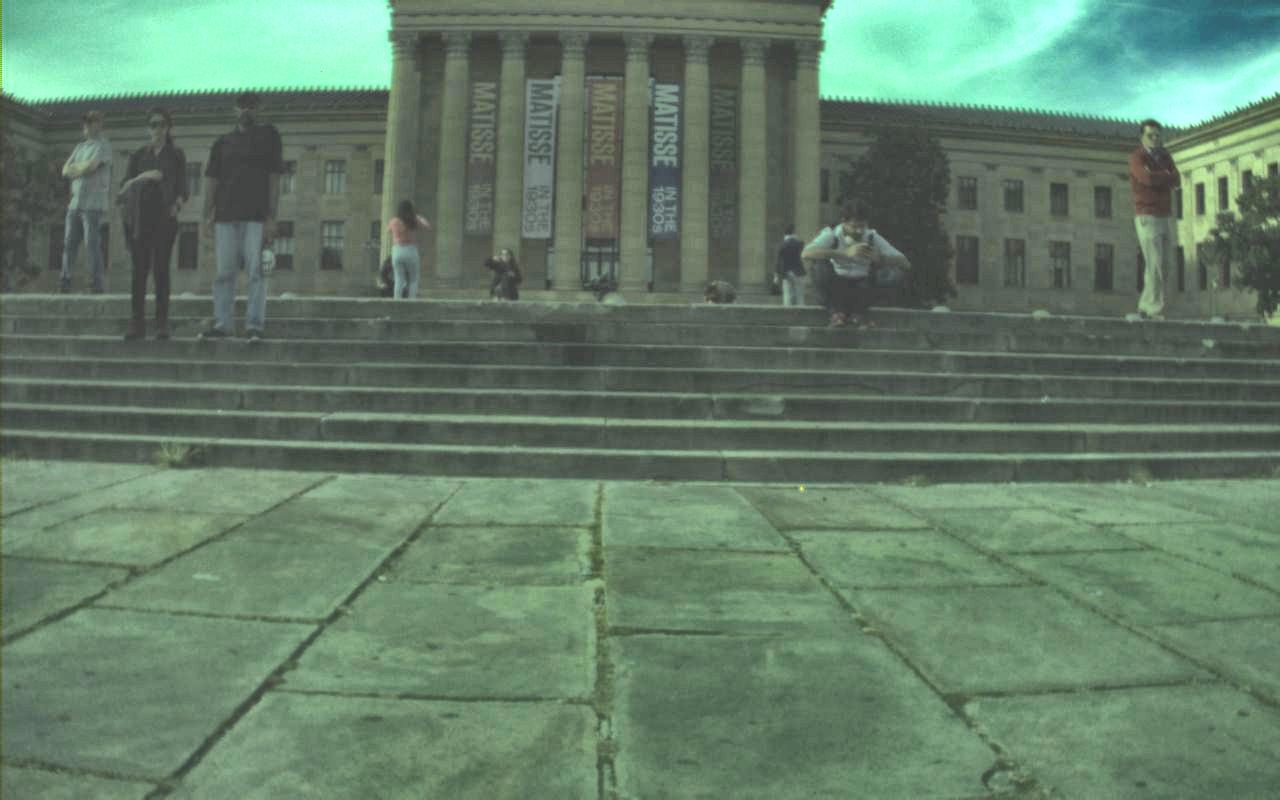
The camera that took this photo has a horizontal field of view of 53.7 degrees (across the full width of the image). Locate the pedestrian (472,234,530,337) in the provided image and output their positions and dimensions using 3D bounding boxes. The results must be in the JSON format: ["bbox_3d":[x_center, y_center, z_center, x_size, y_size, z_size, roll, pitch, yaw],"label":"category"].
[{"bbox_3d":[-2.355,-1.928,21.334,0.825,1.699,0.828,0,0,4],"label":"pedestrian"}]

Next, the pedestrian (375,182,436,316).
[{"bbox_3d":[-3.217,-2.044,17.006,0.779,1.771,0.788,0,0,-11],"label":"pedestrian"}]

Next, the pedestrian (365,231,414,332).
[{"bbox_3d":[-4.264,-1.994,21.084,0.706,1.662,0.706,0,0,-21],"label":"pedestrian"}]

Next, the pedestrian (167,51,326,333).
[{"bbox_3d":[-2.673,-1.364,8.148,0.803,1.821,0.810,0,0,4],"label":"pedestrian"}]

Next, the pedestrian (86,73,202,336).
[{"bbox_3d":[-3.461,-1.322,8.124,0.734,1.768,0.733,0,0,-20],"label":"pedestrian"}]

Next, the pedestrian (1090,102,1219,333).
[{"bbox_3d":[4.324,-1.477,9.834,0.794,1.839,0.812,0,0,-9],"label":"pedestrian"}]

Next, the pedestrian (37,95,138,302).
[{"bbox_3d":[-5.213,-1.851,10.763,0.805,1.874,0.794,0,0,-17],"label":"pedestrian"}]

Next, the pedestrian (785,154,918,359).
[{"bbox_3d":[1.509,-0.984,8.814,0.829,1.380,0.733,1,0,20],"label":"pedestrian"}]

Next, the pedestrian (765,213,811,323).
[{"bbox_3d":[2.478,-2.197,21.087,0.765,1.784,0.750,0,0,5],"label":"pedestrian"}]
